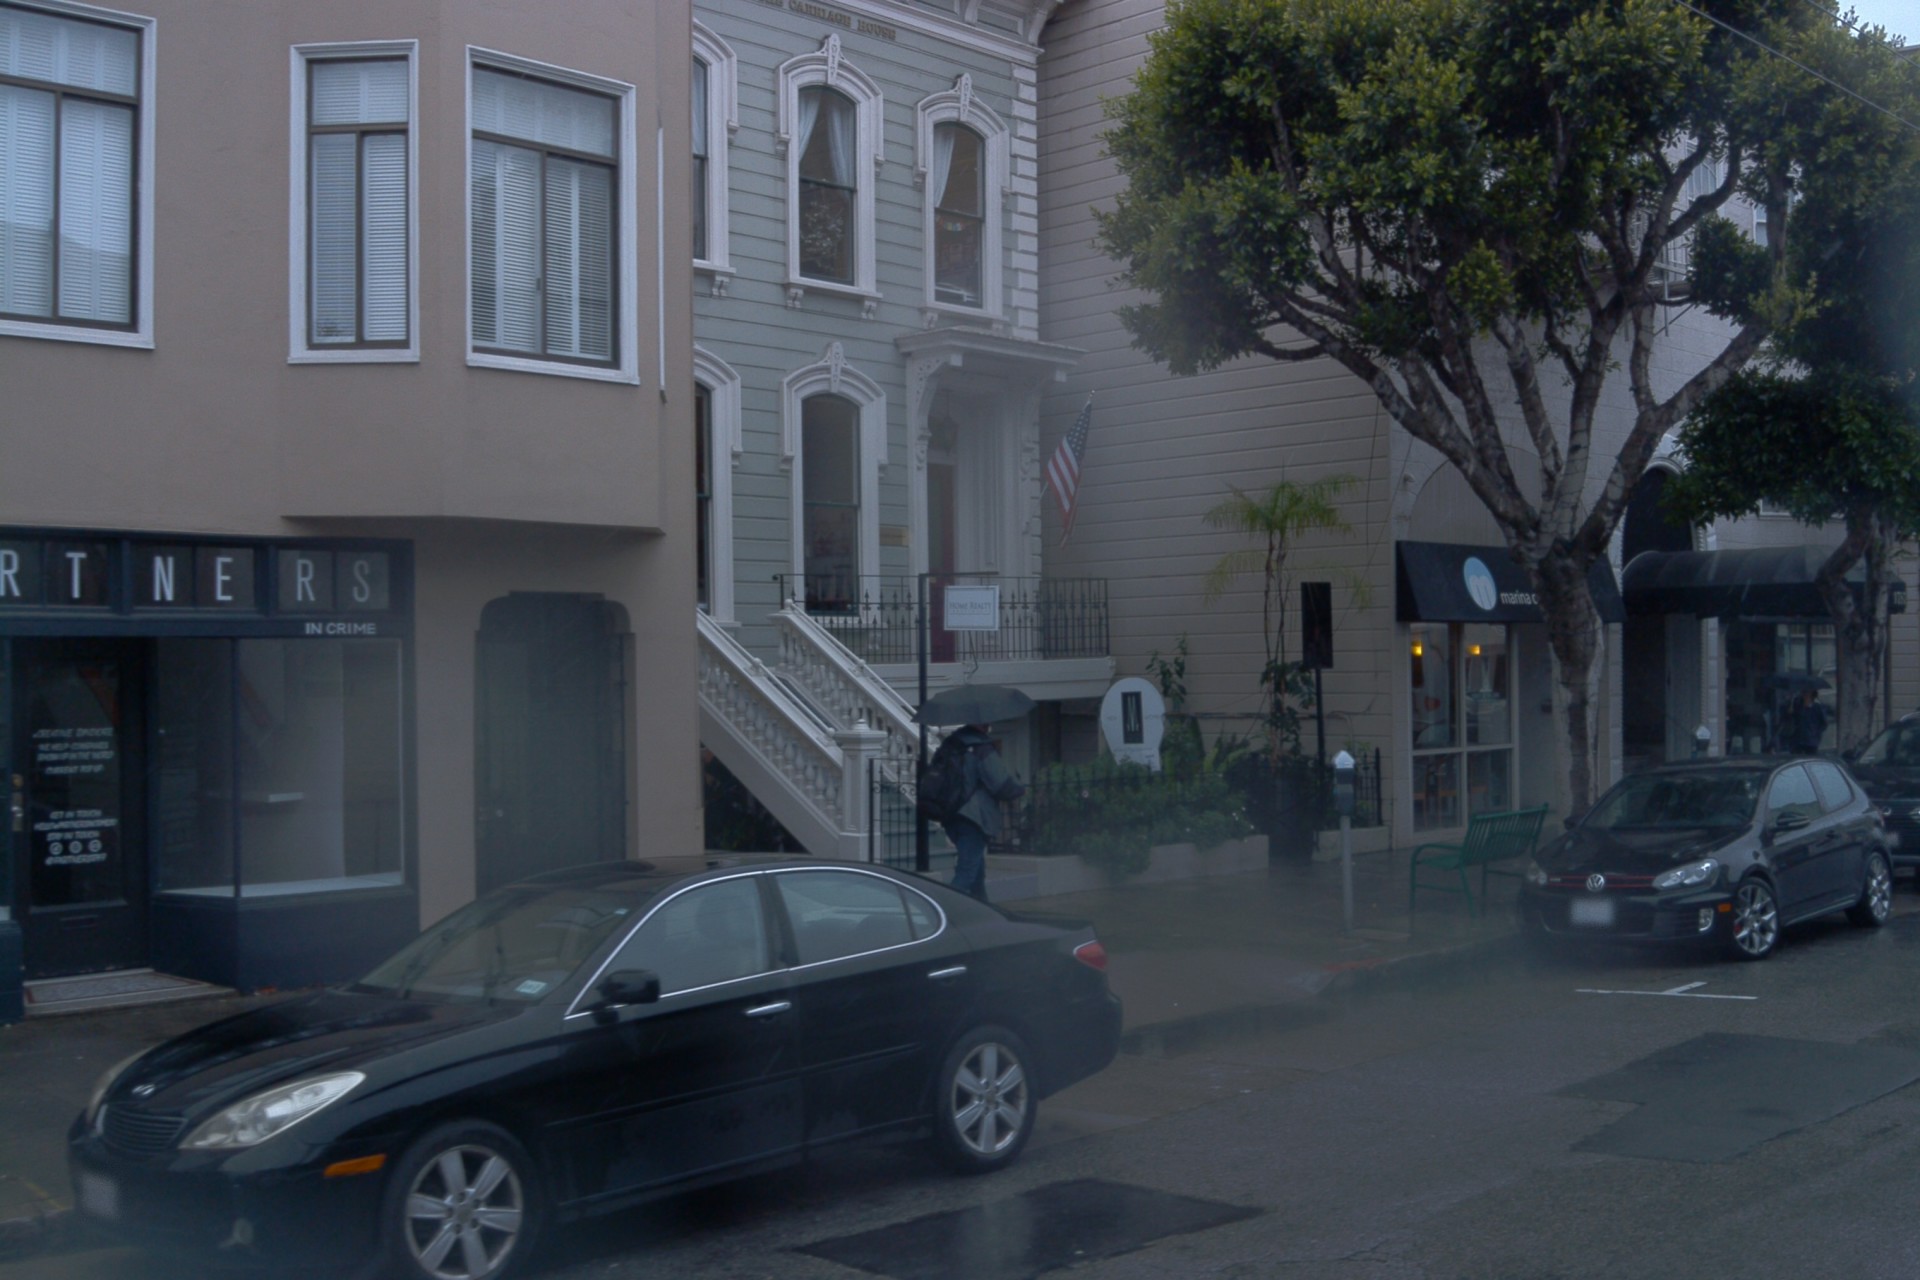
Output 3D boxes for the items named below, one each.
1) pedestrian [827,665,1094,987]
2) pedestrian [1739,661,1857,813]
[{"bbox_3d":[0.013,1.265,14.876,1.167,2.120,1.522,2,1,42],"label":"pedestrian"},{"bbox_3d":[11.147,1.259,27.493,1.097,1.928,1.116,2,1,42],"label":"pedestrian"}]
